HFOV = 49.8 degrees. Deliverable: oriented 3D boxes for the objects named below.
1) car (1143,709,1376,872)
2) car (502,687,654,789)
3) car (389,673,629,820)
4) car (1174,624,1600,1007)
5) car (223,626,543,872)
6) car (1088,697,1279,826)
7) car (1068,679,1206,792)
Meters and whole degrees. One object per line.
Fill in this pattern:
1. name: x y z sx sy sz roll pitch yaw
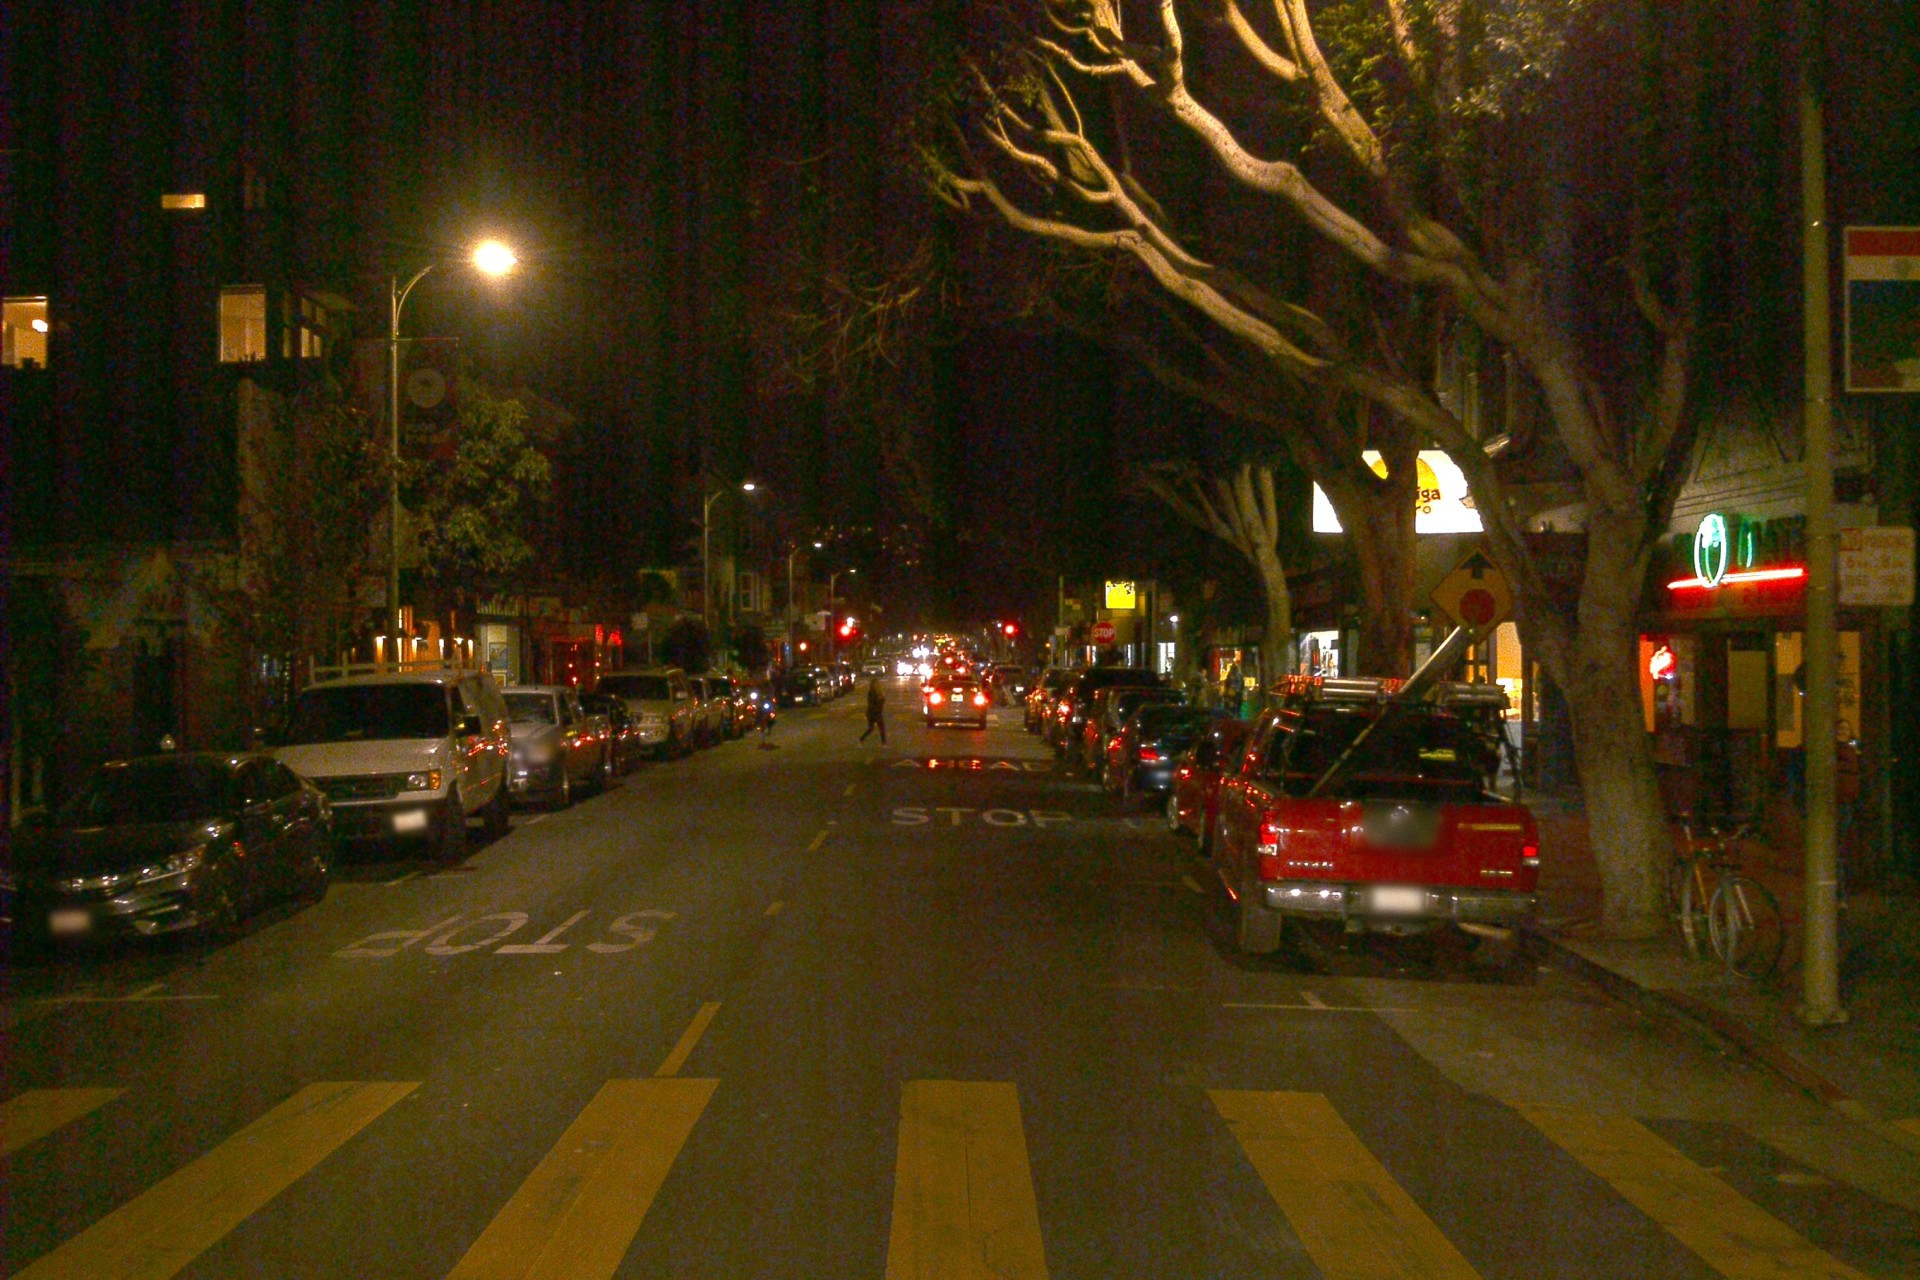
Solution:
1. car: 3.357 1.658 24.015 2.035 1.590 4.287 0 0 0
2. car: -6.908 1.732 37.838 2.108 1.660 4.521 0 0 -2
3. car: -6.678 1.513 31.432 2.384 1.930 5.954 0 0 0
4. car: 3.165 1.178 16.981 2.610 2.510 6.382 0 0 5
5. car: -6.602 1.162 24.461 2.537 2.560 5.514 0 0 -3
6. car: 3.137 1.688 30.126 2.120 1.590 5.117 0 0 -1
7. car: 3.004 1.602 35.929 1.973 1.780 3.973 0 0 -1
